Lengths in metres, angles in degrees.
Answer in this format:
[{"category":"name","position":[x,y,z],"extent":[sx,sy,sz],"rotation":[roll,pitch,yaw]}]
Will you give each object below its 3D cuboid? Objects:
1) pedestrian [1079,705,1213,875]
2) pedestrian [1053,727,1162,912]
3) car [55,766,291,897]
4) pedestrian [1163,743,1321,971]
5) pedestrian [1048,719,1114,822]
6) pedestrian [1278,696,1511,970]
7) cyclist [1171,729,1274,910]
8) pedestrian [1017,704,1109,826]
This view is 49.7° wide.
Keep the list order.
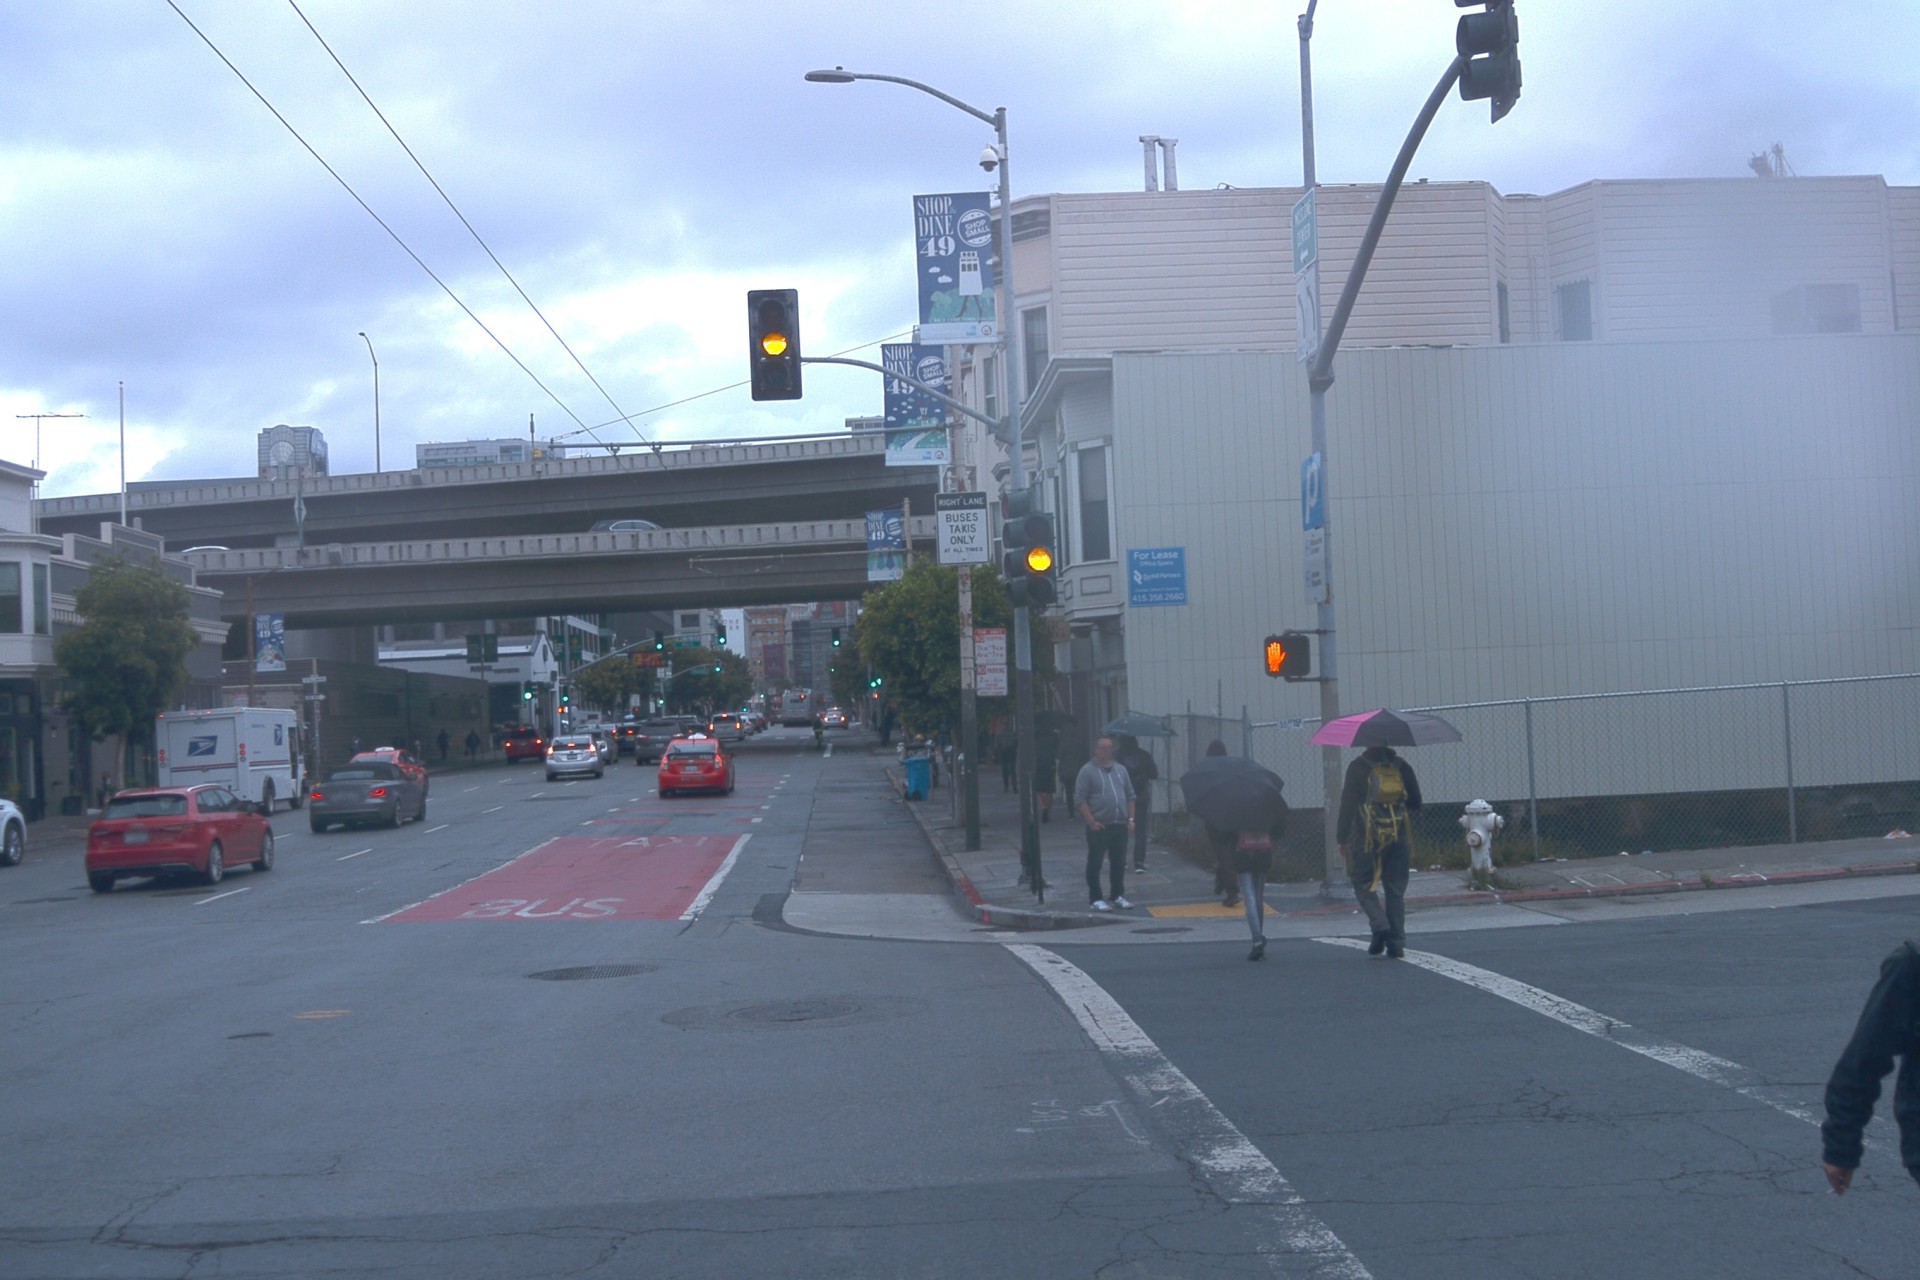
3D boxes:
[{"category":"pedestrian","position":[2.245,1.795,25.334],"extent":[1.351,1.976,1.598],"rotation":[0,-1,-6]},{"category":"pedestrian","position":[1.534,1.844,21.571],"extent":[0.843,1.837,0.755],"rotation":[0,-1,-31]},{"category":"car","position":[-11.465,2.747,30.559],"extent":[2.024,1.570,4.390],"rotation":[0,-1,-3]},{"category":"pedestrian","position":[2.154,1.640,15.976],"extent":[1.006,1.652,1.058],"rotation":[0,-1,-4]},{"category":"pedestrian","position":[2.033,2.190,35.020],"extent":[0.989,1.692,1.085],"rotation":[0,-1,-4]},{"category":"pedestrian","position":[3.259,1.410,15.712],"extent":[1.367,1.952,1.400],"rotation":[0,-1,-6]},{"category":"cyclist","position":[2.734,1.848,21.701],"extent":[0.779,1.800,1.139],"rotation":[0,-1,-8]},{"category":"pedestrian","position":[1.727,2.095,35.144],"extent":[1.409,1.988,1.525],"rotation":[0,-1,-3]}]
